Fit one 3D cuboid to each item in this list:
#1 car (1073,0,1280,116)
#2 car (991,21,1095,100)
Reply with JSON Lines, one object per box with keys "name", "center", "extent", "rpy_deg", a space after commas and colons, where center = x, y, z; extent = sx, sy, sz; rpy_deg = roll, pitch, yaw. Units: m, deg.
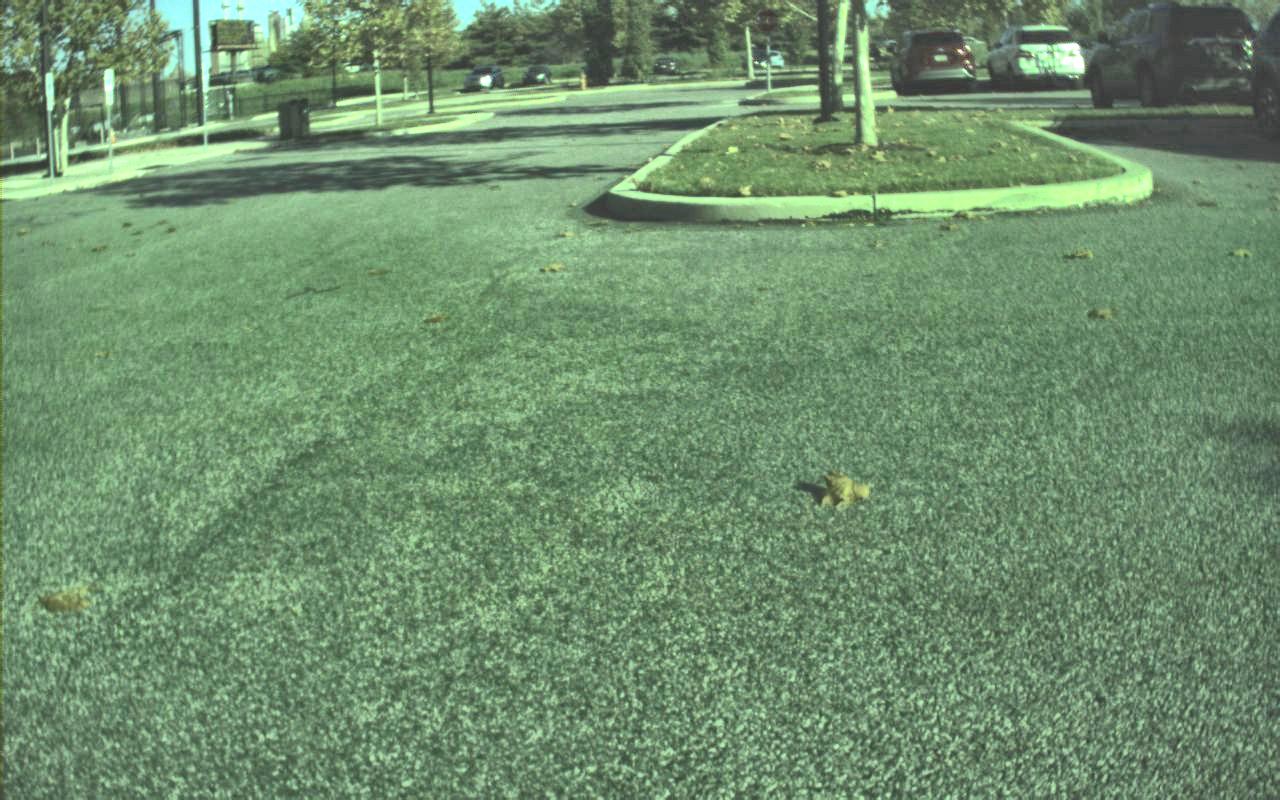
{"name": "car", "center": [8.261, -5.438, 17.679], "extent": [1.982, 1.637, 4.647], "rpy_deg": [0, 17, 4]}
{"name": "car", "center": [10.685, -9.099, 31.553], "extent": [2.097, 1.897, 4.914], "rpy_deg": [1, 17, 8]}
